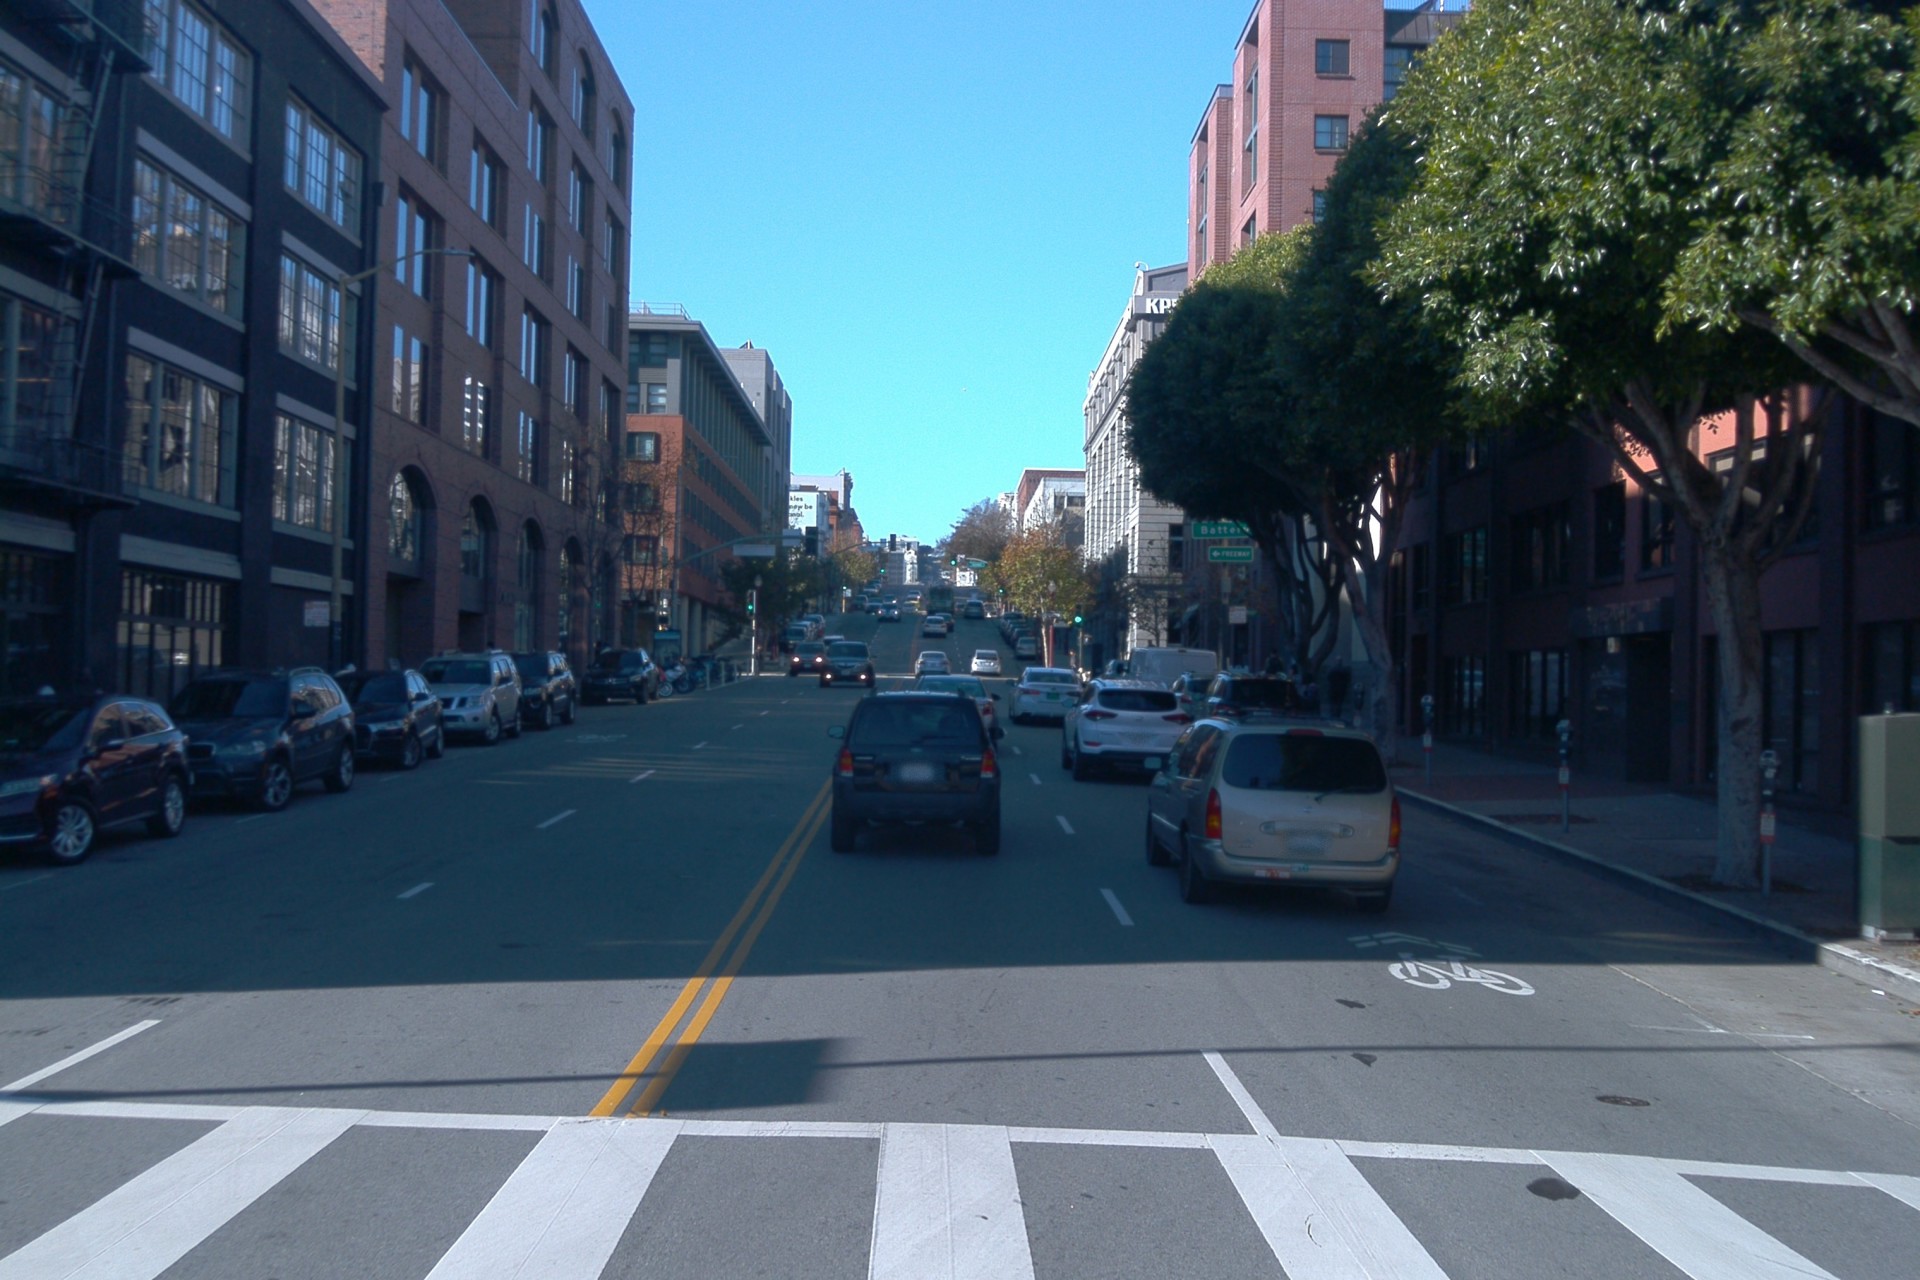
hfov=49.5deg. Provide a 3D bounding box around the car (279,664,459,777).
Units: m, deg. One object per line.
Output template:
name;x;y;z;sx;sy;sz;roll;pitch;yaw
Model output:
car;-9.804;1.326;34.861;2.081;1.740;4.496;1;-2;-5

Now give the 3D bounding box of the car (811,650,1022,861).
car;-0.465;1.232;23.361;2.096;2.100;4.545;1;-2;-1

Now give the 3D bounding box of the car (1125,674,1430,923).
car;2.880;1.409;20.021;2.113;2.070;4.763;1;-2;-1

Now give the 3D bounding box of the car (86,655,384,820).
car;-9.464;1.243;27.671;2.145;1.960;4.976;1;-2;0

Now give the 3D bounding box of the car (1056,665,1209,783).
car;2.808;1.379;34.893;2.088;1.800;4.683;1;-2;-1
